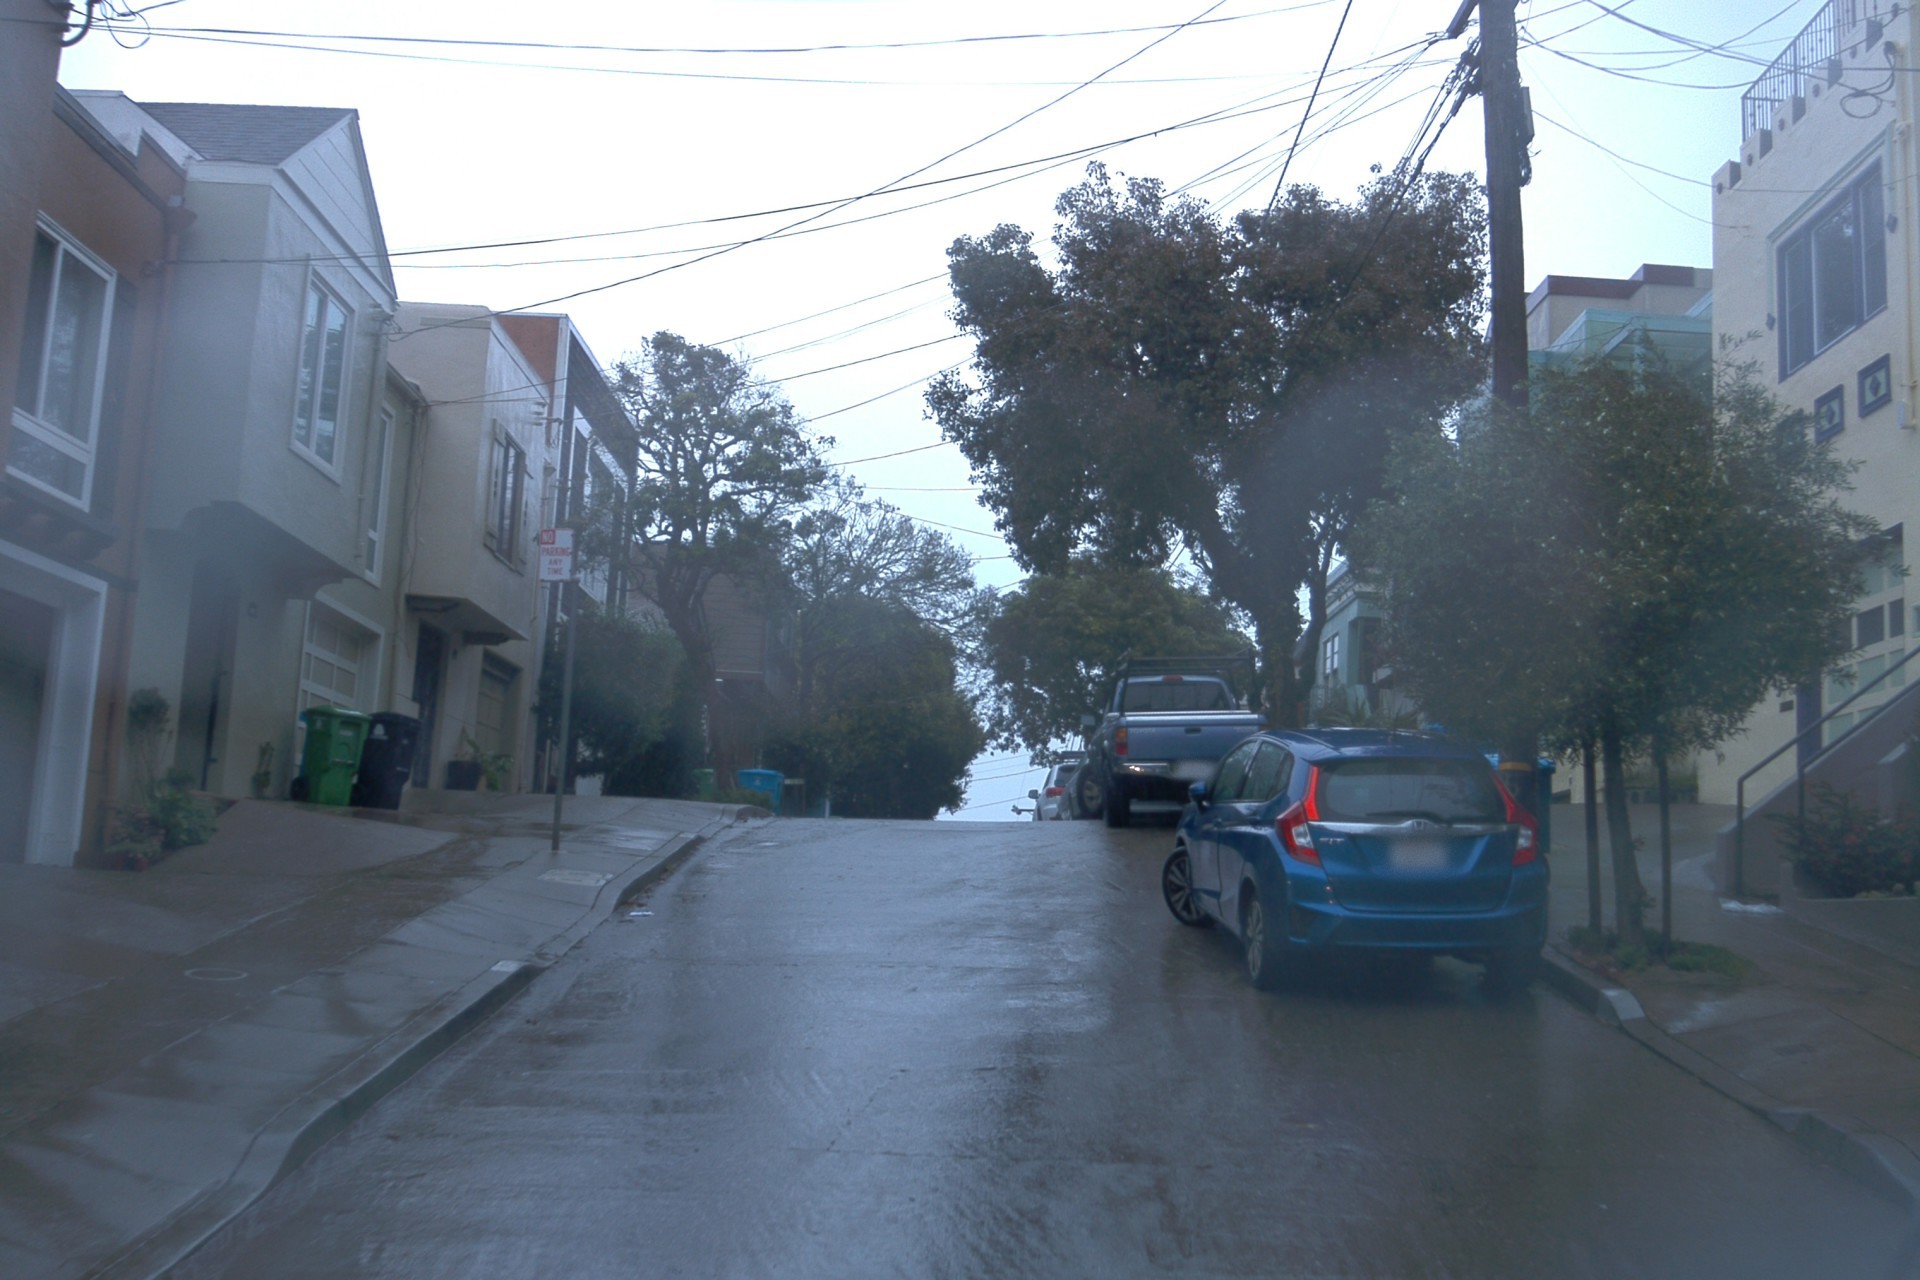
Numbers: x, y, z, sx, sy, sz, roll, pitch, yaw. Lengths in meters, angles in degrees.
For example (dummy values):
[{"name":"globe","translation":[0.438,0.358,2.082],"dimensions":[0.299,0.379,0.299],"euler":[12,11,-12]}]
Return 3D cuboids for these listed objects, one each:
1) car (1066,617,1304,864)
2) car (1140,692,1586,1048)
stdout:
[{"name":"car","translation":[2.456,1.011,23.903],"dimensions":[2.116,2.510,5.436],"euler":[1,0,0]},{"name":"car","translation":[2.440,1.346,13.602],"dimensions":[1.835,1.830,4.181],"euler":[1,0,-4]}]
